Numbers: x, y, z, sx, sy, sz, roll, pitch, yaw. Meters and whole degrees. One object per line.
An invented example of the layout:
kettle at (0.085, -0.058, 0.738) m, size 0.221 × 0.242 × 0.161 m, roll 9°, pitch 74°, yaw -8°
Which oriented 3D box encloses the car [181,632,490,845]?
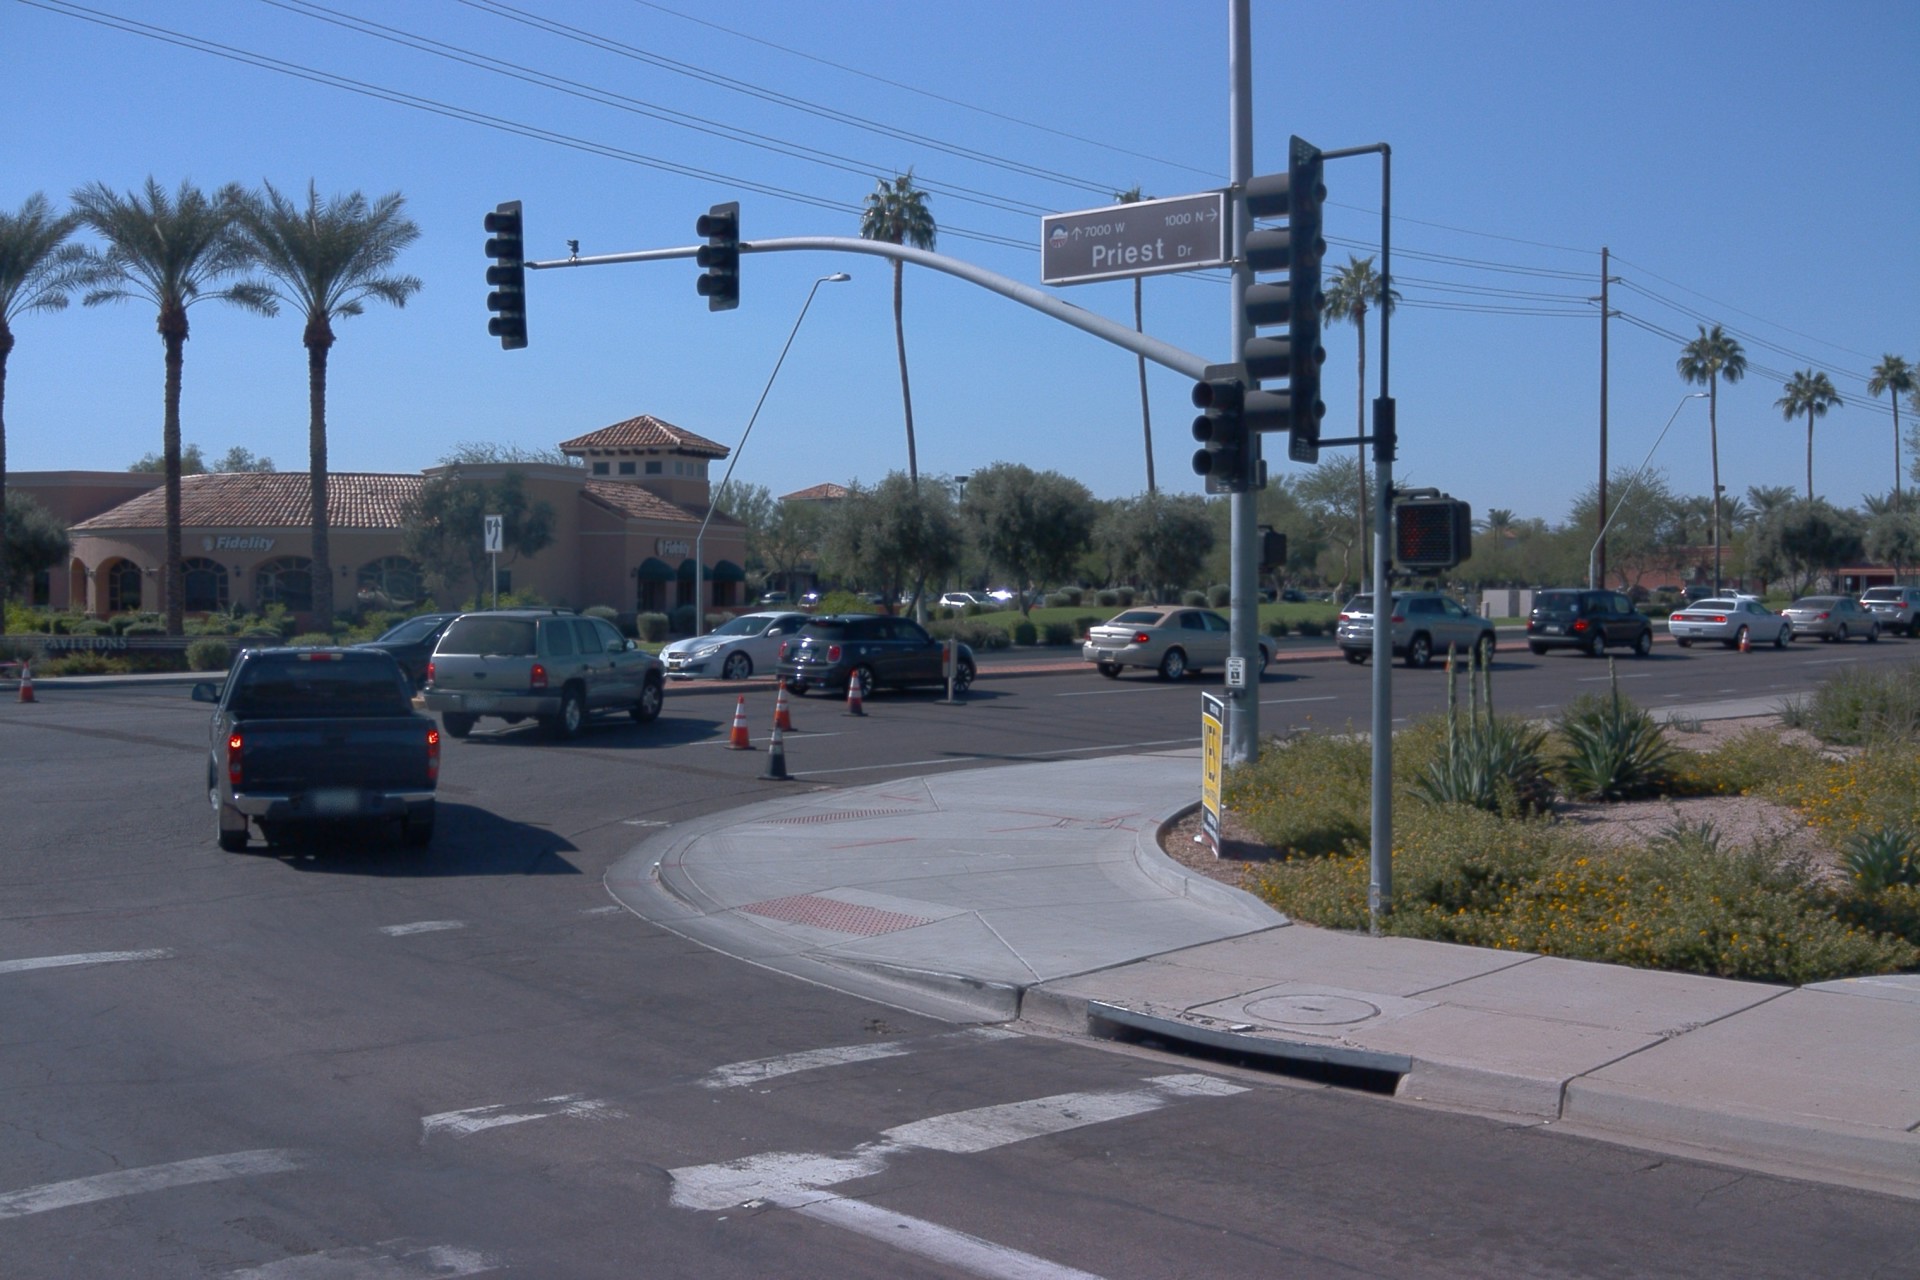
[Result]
car at (-5.739, 0.765, 18.594) m, size 2.145 × 1.630 × 4.958 m, roll 1°, pitch 0°, yaw -22°

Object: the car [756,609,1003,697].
car at (-1.386, 0.244, 37.056) m, size 1.931 × 1.480 × 4.287 m, roll 1°, pitch 0°, yaw 43°

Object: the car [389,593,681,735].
car at (-5.900, 0.320, 29.537) m, size 2.174 × 1.830 × 4.922 m, roll 1°, pitch 0°, yaw 14°
